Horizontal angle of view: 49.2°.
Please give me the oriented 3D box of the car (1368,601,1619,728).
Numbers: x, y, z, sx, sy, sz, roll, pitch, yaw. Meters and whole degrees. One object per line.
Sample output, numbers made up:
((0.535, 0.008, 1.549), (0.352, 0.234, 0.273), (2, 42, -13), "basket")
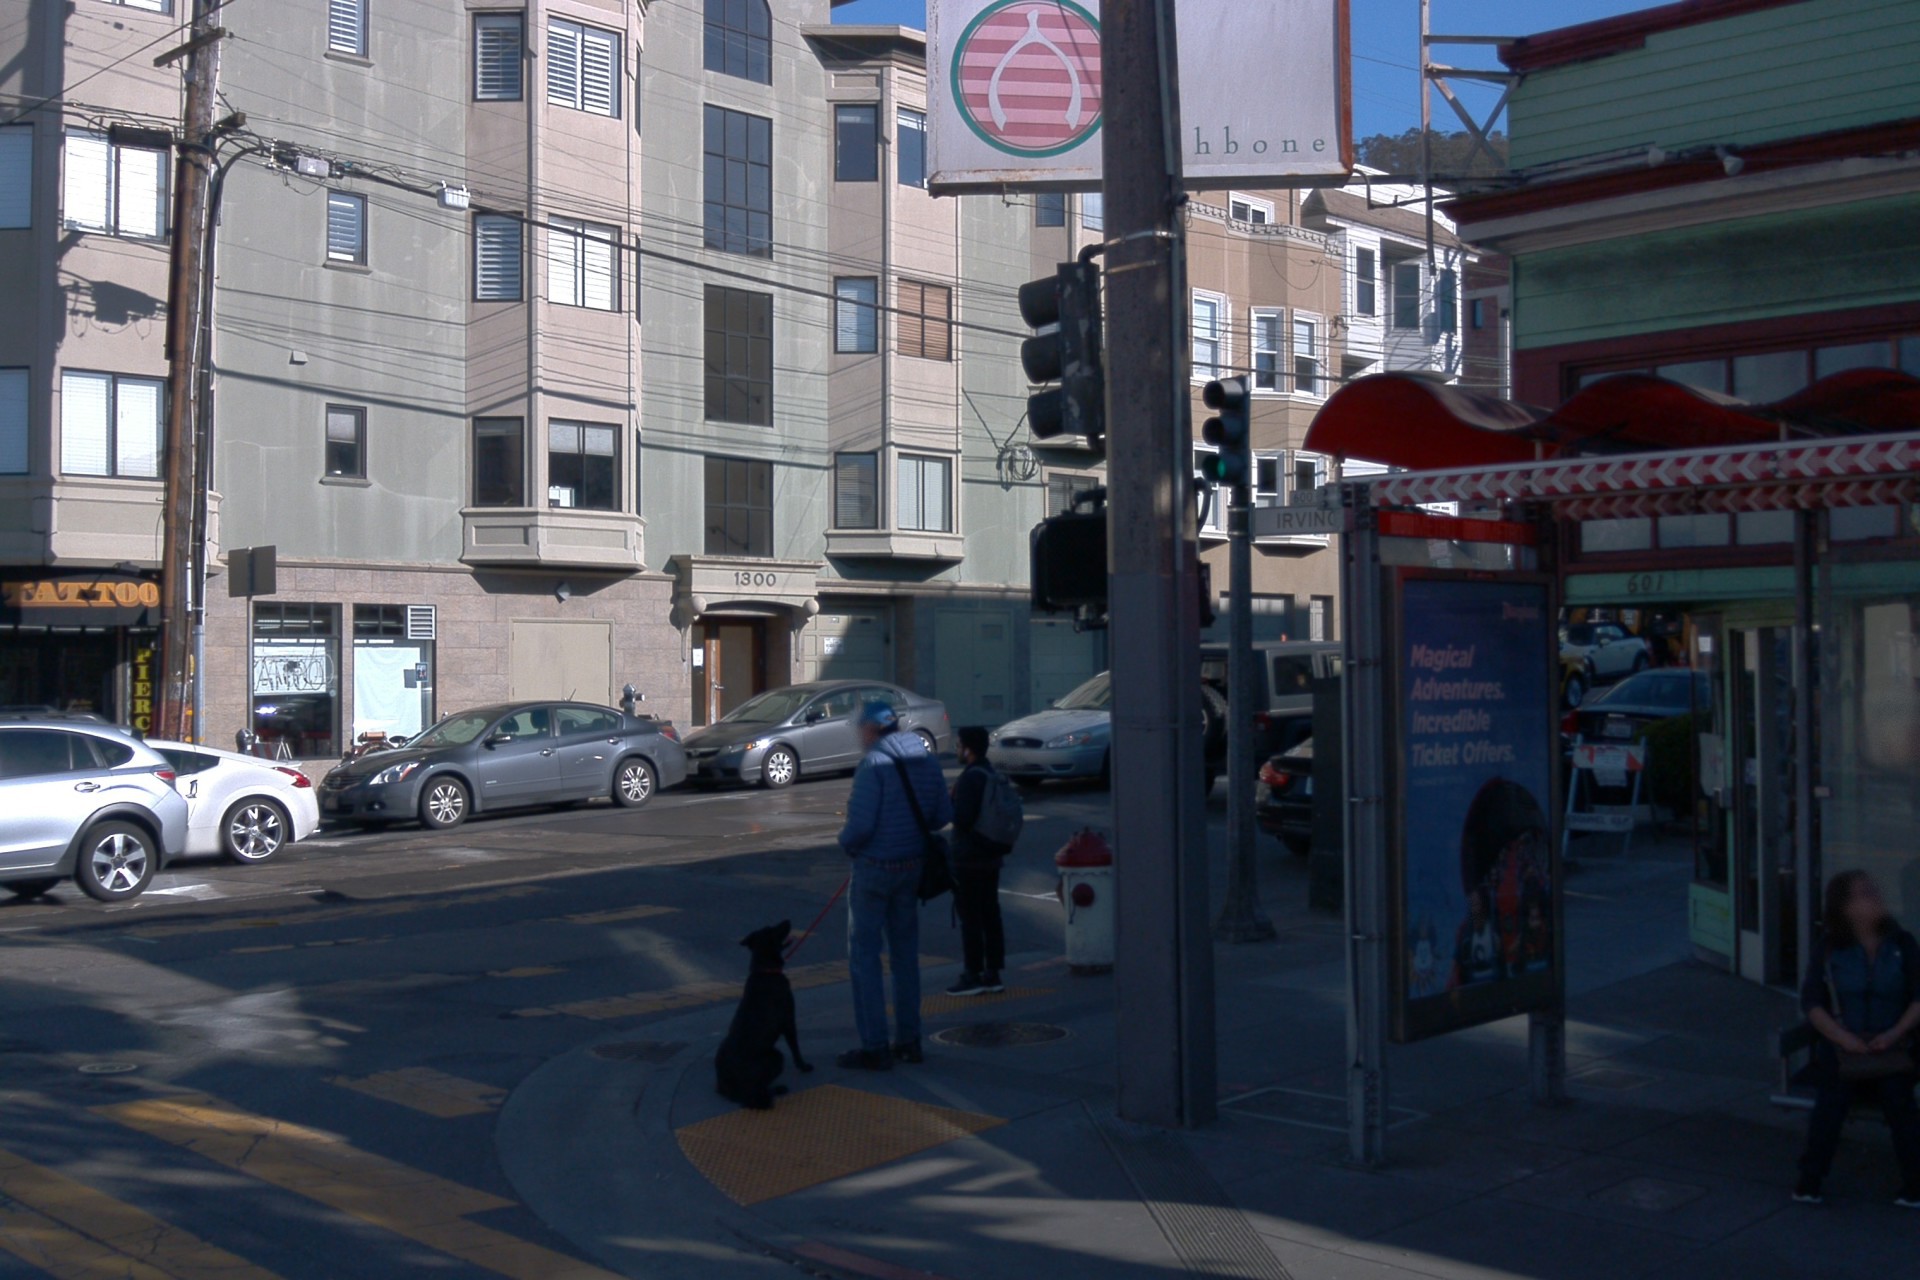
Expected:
((9.510, 0.429, 37.141), (4.772, 2.100, 2.070), (1, 0, -44), "car")

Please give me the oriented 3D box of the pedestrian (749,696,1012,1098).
((-0.394, 1.227, 10.509), (0.894, 1.860, 0.955), (1, 0, 40), "pedestrian")

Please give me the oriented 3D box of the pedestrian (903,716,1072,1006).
((0.168, 1.342, 13.044), (0.687, 1.700, 0.778), (0, 0, -43), "pedestrian")

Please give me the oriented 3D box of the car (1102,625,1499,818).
((4.017, 0.861, 24.129), (2.072, 1.990, 4.910), (1, 0, 44), "car")

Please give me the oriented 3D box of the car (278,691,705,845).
((-5.776, 1.516, 26.272), (2.149, 1.660, 4.833), (0, 0, 44), "car")

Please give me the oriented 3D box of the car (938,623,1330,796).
((2.337, 0.834, 27.119), (5.034, 2.030, 2.283), (1, 0, -44), "car")

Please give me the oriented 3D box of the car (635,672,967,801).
((-2.214, 1.320, 30.144), (2.102, 1.670, 4.524), (0, 0, 43), "car")
